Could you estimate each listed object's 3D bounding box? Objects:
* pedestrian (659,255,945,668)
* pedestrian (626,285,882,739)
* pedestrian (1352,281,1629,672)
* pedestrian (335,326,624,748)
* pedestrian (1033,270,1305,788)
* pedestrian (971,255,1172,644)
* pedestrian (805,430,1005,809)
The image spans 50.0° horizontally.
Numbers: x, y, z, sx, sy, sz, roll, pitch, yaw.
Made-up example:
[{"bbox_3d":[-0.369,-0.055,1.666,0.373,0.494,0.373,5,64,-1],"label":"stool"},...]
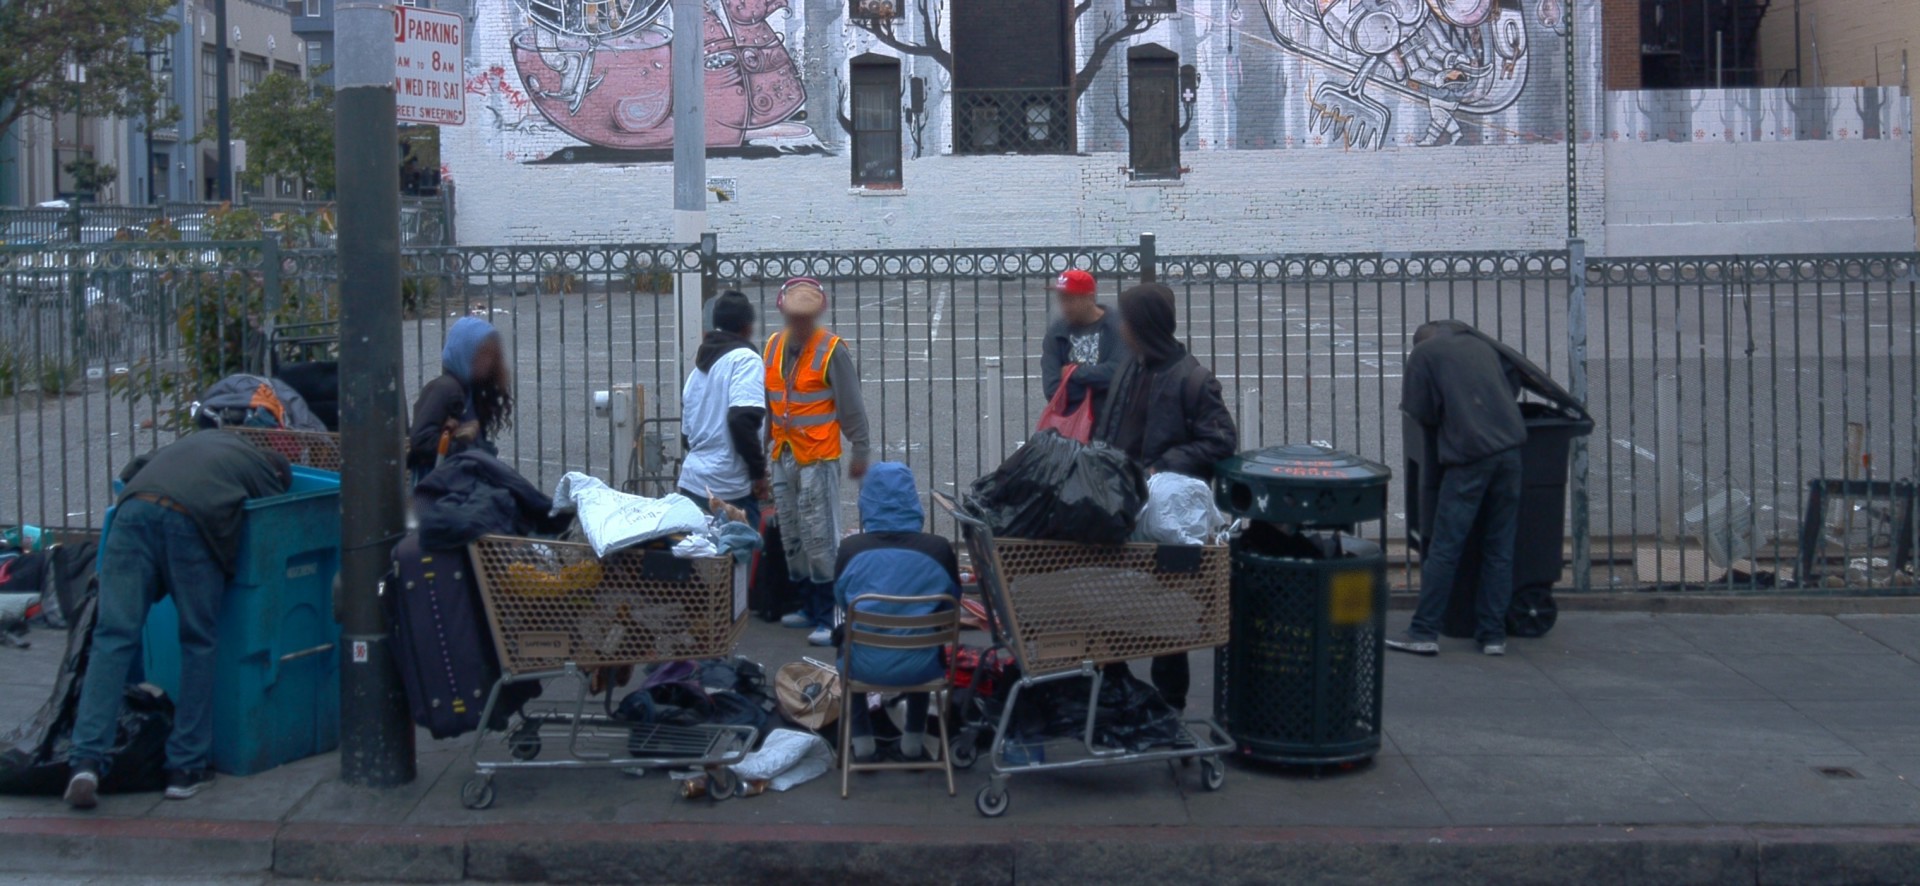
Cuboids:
[{"bbox_3d":[-0.762,0.023,9.879,1.111,1.827,0.829,2,3,41],"label":"pedestrian"},{"bbox_3d":[-0.883,0.232,8.699,0.887,1.767,0.832,-1,2,-21],"label":"pedestrian"},{"bbox_3d":[2.526,0.119,9.907,1.086,1.777,0.844,0,2,-3],"label":"pedestrian"},{"bbox_3d":[-2.079,0.347,8.989,0.733,1.657,1.020,1,3,29],"label":"pedestrian"},{"bbox_3d":[0.839,0.278,8.187,0.853,1.907,0.746,1,2,29],"label":"pedestrian"},{"bbox_3d":[0.562,-0.012,10.236,0.786,1.827,0.722,1,2,24],"label":"pedestrian"},{"bbox_3d":[-0.188,0.626,7.684,0.708,1.278,0.715,0,2,2],"label":"pedestrian"}]
